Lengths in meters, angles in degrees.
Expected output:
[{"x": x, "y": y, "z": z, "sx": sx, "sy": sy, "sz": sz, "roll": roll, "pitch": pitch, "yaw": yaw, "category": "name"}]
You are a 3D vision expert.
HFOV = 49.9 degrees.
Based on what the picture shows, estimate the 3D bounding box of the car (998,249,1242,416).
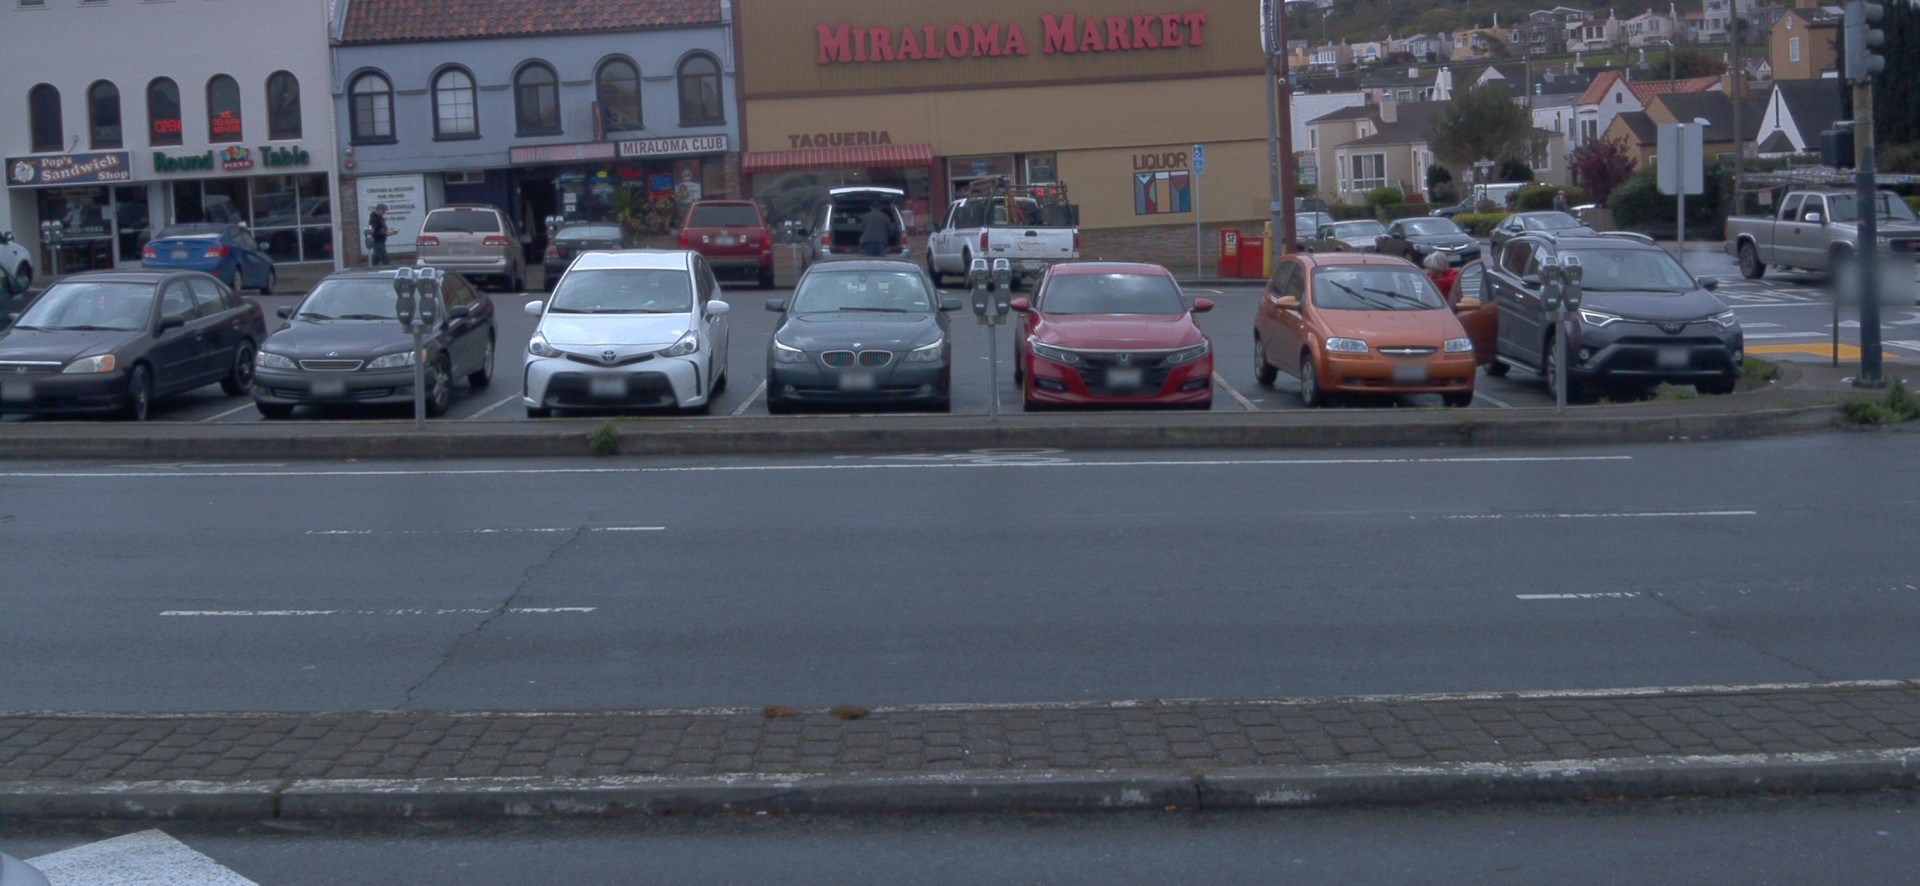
[{"x": 1.555, "y": -1.265, "z": 21.844, "sx": 2.185, "sy": 1.461, "sz": 4.636, "roll": 0, "pitch": 6, "yaw": -1, "category": "car"}]

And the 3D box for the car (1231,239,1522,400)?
[{"x": 4.265, "y": -1.386, "z": 21.811, "sx": 2.049, "sy": 1.462, "sz": 4.037, "roll": 0, "pitch": 6, "yaw": -4, "category": "car"}]

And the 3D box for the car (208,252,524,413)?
[{"x": -6.069, "y": -1.255, "z": 21.718, "sx": 2.023, "sy": 1.392, "sz": 4.712, "roll": 0, "pitch": 6, "yaw": -1, "category": "car"}]

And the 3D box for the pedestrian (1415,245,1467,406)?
[{"x": 5.141, "y": -1.261, "z": 22.074, "sx": 0.462, "sy": 1.696, "sz": 0.419, "roll": 0, "pitch": 2, "yaw": 1, "category": "pedestrian"}]

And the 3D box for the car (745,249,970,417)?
[{"x": -1.009, "y": -1.250, "z": 21.672, "sx": 2.112, "sy": 1.461, "sz": 4.574, "roll": 0, "pitch": 6, "yaw": -1, "category": "car"}]

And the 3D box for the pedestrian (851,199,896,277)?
[{"x": -1.641, "y": -3.888, "z": 39.046, "sx": 0.705, "sy": 1.457, "sz": 0.722, "roll": -1, "pitch": 2, "yaw": -15, "category": "pedestrian"}]

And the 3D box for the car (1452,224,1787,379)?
[{"x": 7.038, "y": -1.637, "z": 22.588, "sx": 2.205, "sy": 1.461, "sz": 4.580, "roll": 0, "pitch": 6, "yaw": 0, "category": "car"}]

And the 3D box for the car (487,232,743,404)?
[{"x": -3.417, "y": -1.389, "z": 21.302, "sx": 2.132, "sy": 1.491, "sz": 4.678, "roll": 0, "pitch": 6, "yaw": -4, "category": "car"}]
